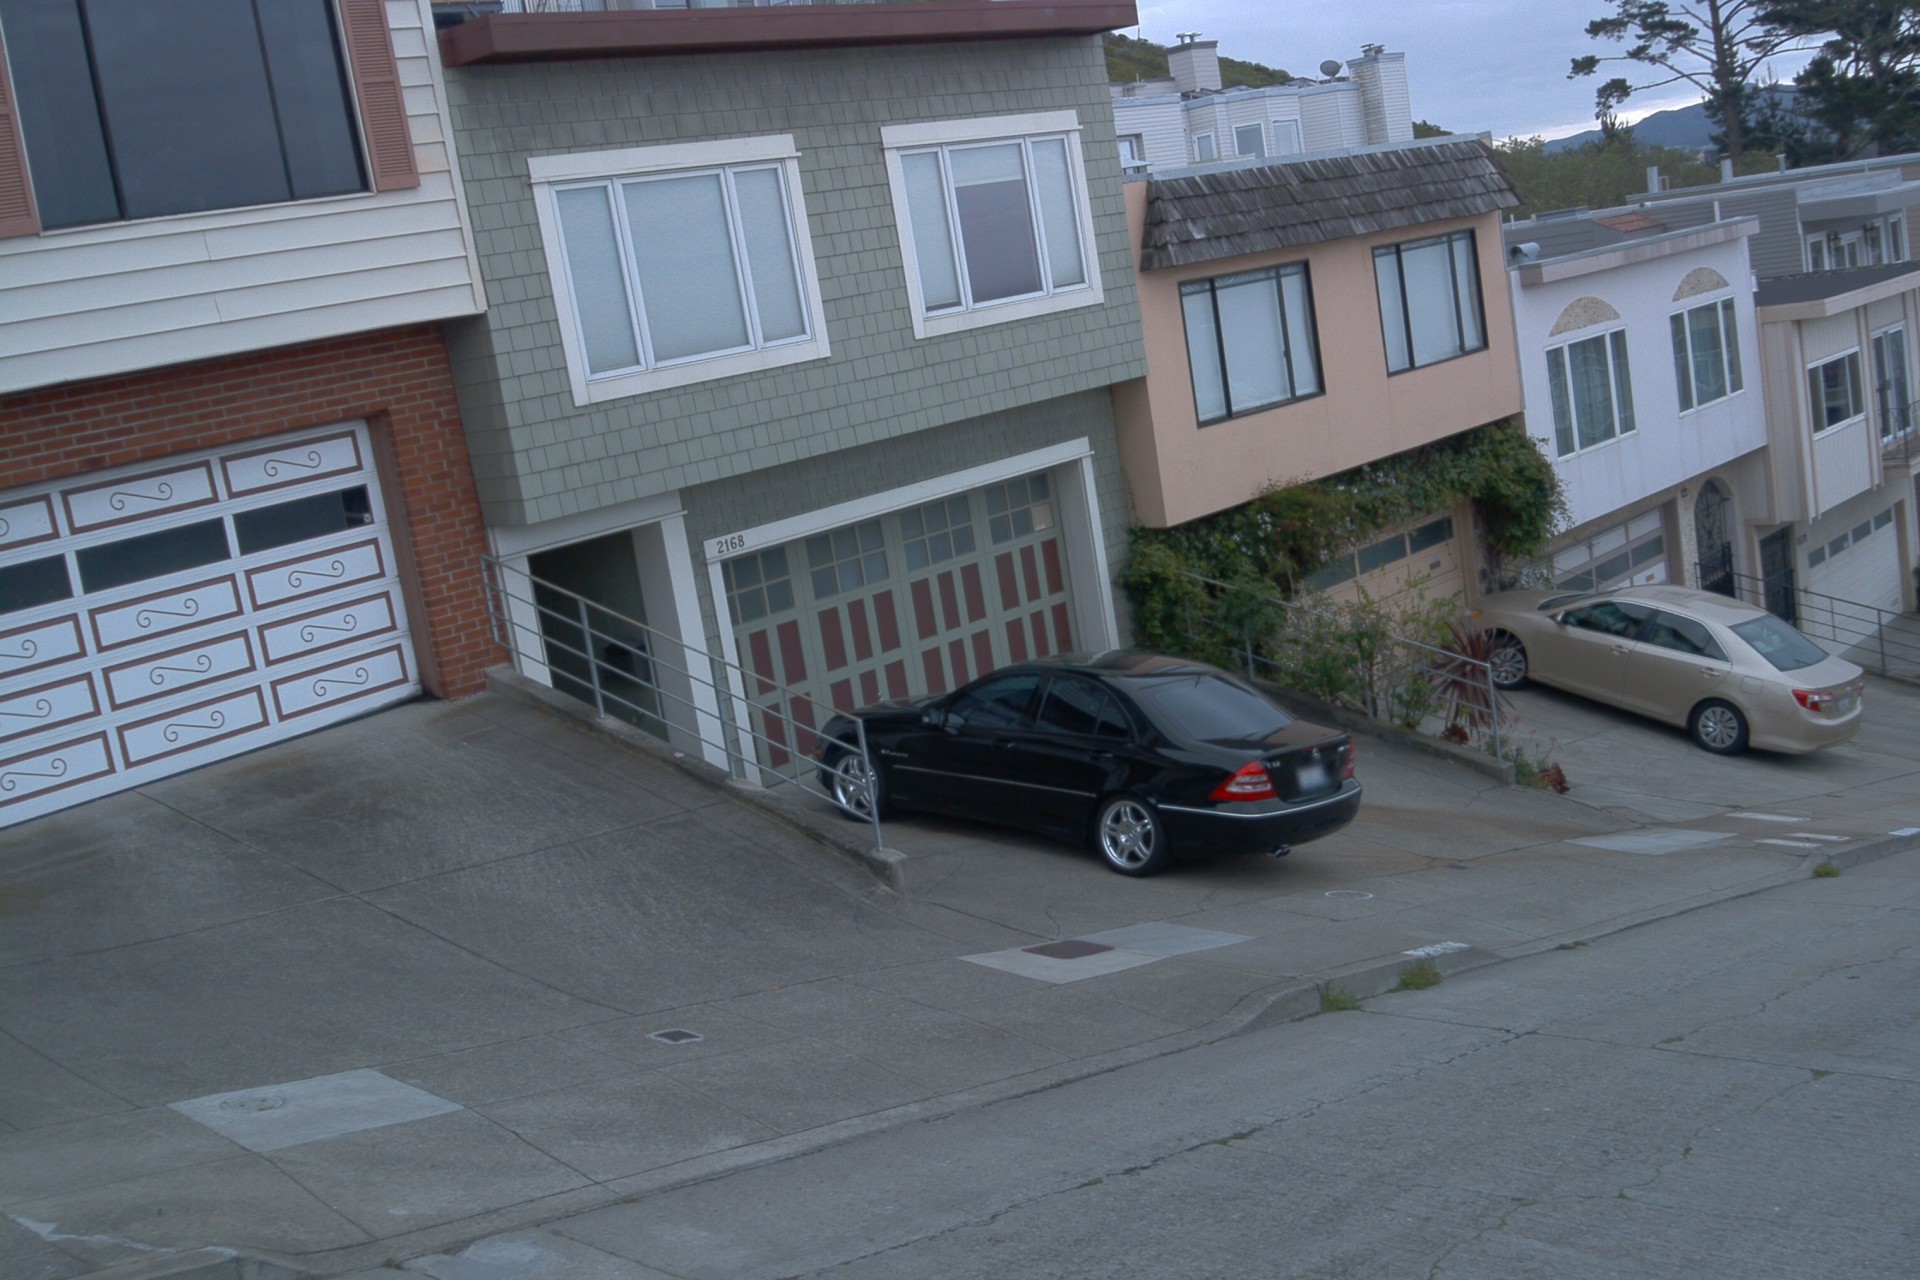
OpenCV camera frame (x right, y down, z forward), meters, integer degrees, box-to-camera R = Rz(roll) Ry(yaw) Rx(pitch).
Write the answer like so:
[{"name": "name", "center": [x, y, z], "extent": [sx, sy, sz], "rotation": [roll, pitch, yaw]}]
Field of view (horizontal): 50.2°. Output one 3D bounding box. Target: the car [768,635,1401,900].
[{"name": "car", "center": [0.815, 0.815, 15.518], "extent": [4.517, 1.660, 2.026], "rotation": [1, 1, 43]}]

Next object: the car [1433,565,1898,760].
[{"name": "car", "center": [8.129, 0.202, 23.948], "extent": [2.136, 2.040, 4.664], "rotation": [0, 1, -43]}]
